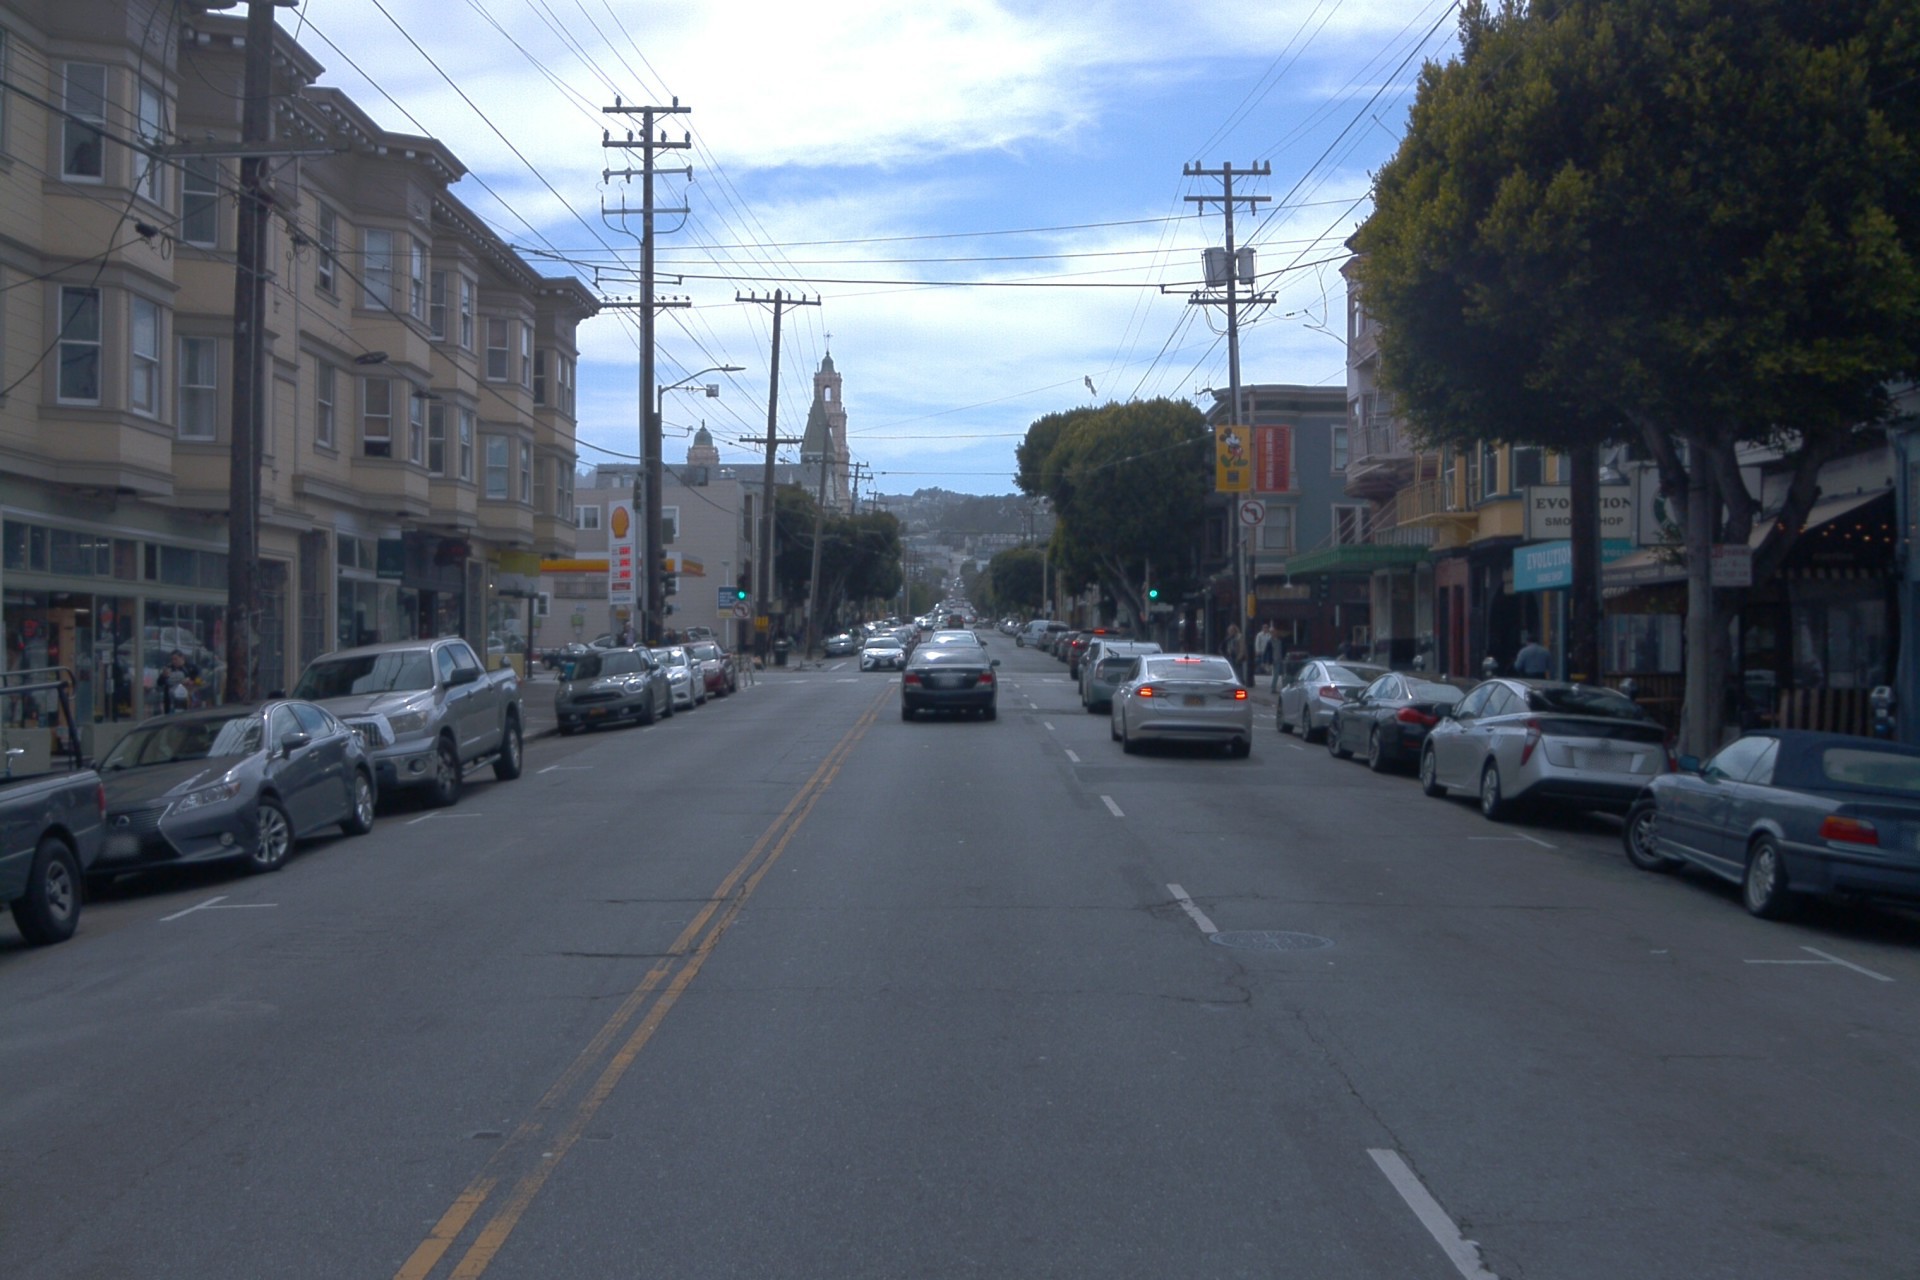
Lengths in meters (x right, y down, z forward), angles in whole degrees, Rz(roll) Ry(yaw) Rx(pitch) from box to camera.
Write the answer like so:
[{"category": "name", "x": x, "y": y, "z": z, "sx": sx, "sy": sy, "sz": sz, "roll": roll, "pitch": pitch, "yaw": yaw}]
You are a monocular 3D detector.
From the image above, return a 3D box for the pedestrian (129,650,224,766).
[{"category": "pedestrian", "x": -11.736, "y": 1.004, "z": 30.842, "sx": 1.073, "sy": 1.693, "sz": 1.061, "roll": 0, "pitch": 1, "yaw": -4}]

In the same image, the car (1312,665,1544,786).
[{"category": "car", "x": 6.404, "y": 1.119, "z": 28.710, "sx": 2.090, "sy": 1.410, "sz": 4.679, "roll": 0, "pitch": 1, "yaw": -1}]

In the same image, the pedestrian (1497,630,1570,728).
[{"category": "pedestrian", "x": 10.204, "y": 0.685, "z": 36.611, "sx": 1.077, "sy": 1.723, "sz": 0.957, "roll": 0, "pitch": 1, "yaw": 5}]

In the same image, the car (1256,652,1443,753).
[{"category": "car", "x": 6.587, "y": 1.024, "z": 35.356, "sx": 2.276, "sy": 1.510, "sz": 4.546, "roll": 0, "pitch": 1, "yaw": -1}]

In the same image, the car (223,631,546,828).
[{"category": "car", "x": -6.689, "y": 0.936, "z": 24.723, "sx": 2.313, "sy": 2.010, "sz": 5.874, "roll": 0, "pitch": 1, "yaw": -1}]

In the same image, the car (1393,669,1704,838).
[{"category": "car", "x": 6.236, "y": 1.141, "z": 22.405, "sx": 2.084, "sy": 1.510, "sz": 4.572, "roll": 0, "pitch": 1, "yaw": 0}]

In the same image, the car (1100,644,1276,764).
[{"category": "car", "x": 3.337, "y": 0.897, "z": 31.067, "sx": 2.170, "sy": 1.570, "sz": 4.849, "roll": 0, "pitch": 1, "yaw": 1}]
